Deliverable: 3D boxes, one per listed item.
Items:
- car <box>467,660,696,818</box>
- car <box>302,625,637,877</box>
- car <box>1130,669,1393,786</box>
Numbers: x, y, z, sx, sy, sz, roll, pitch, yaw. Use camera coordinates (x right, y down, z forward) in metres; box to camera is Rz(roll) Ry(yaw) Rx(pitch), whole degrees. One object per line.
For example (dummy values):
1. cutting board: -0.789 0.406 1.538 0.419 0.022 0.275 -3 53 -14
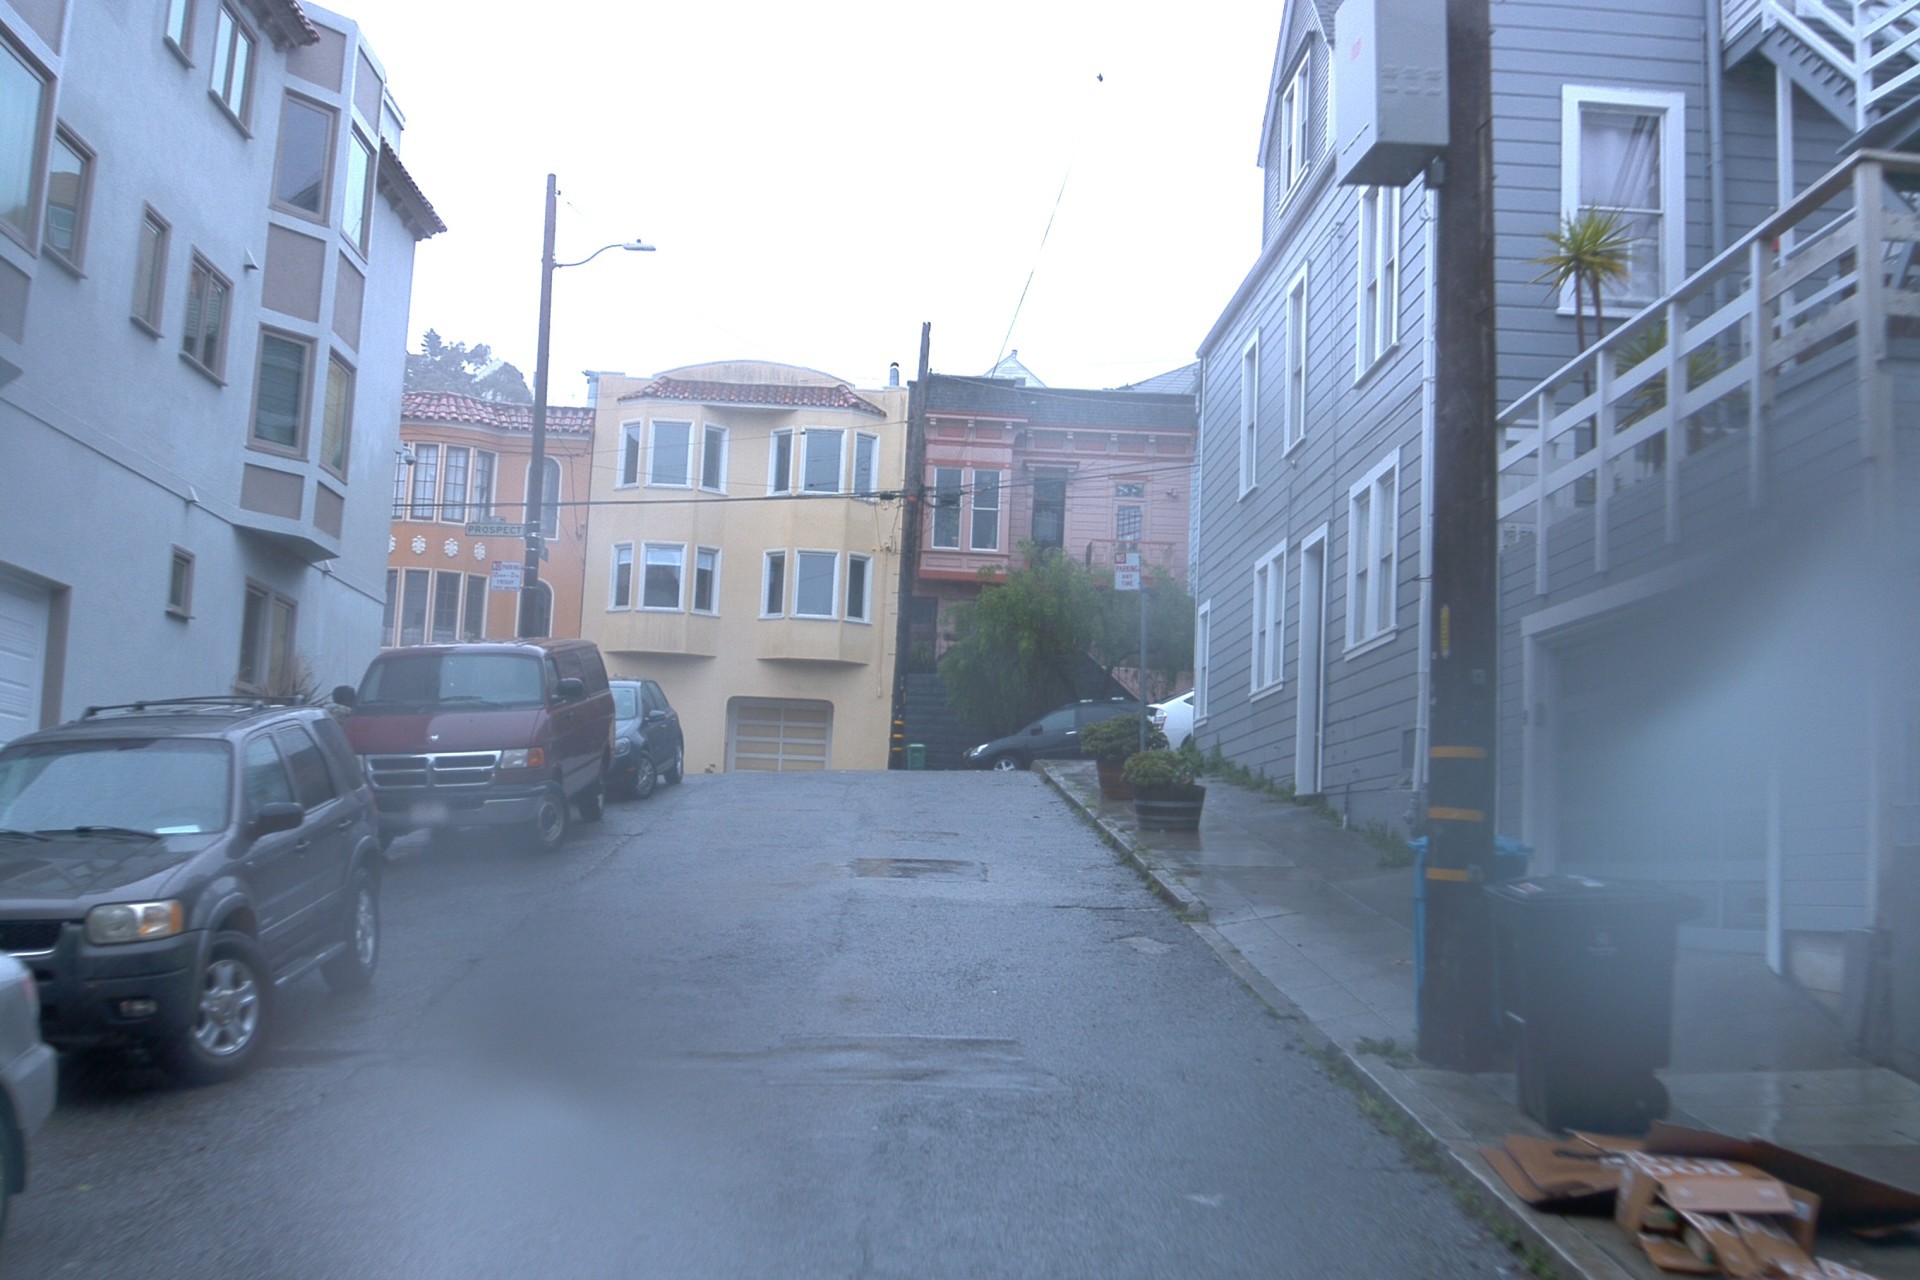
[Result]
1. car: -4.739 1.184 26.453 2.071 1.750 4.282 1 0 1
2. car: -4.755 0.972 20.840 2.306 2.200 5.074 1 0 -2
3. car: 5.162 1.485 35.714 4.209 1.850 2.036 1 0 0
